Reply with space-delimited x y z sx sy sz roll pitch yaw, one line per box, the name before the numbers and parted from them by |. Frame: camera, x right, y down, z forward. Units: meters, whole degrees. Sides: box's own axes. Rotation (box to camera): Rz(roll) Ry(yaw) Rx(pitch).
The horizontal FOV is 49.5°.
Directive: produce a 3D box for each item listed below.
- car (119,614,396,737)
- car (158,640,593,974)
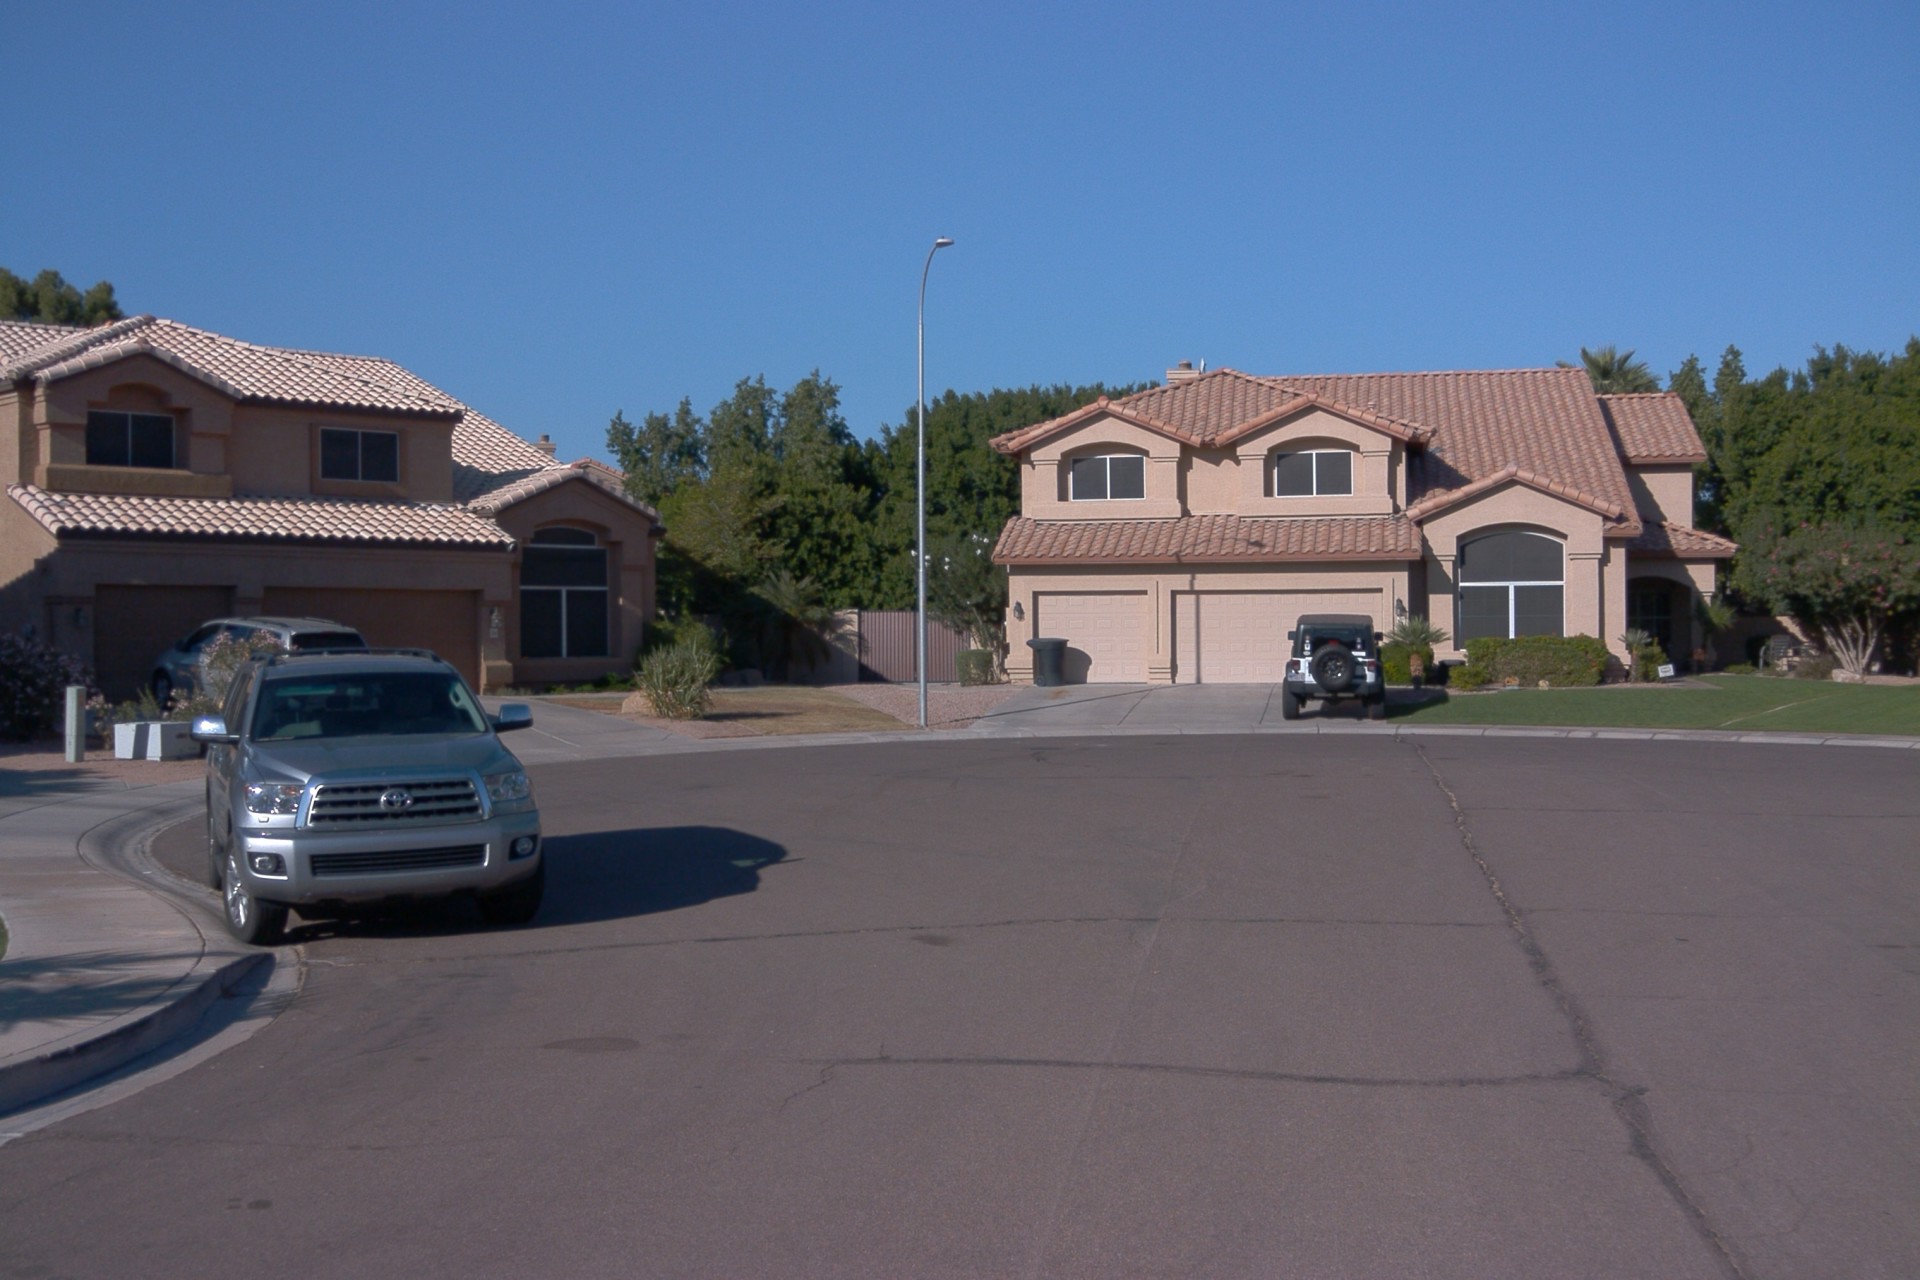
car | -11.814 0.546 34.824 5.024 1.900 2.270 0 0 43
car | -4.727 1.041 16.046 2.571 2.060 5.667 0 0 -23
